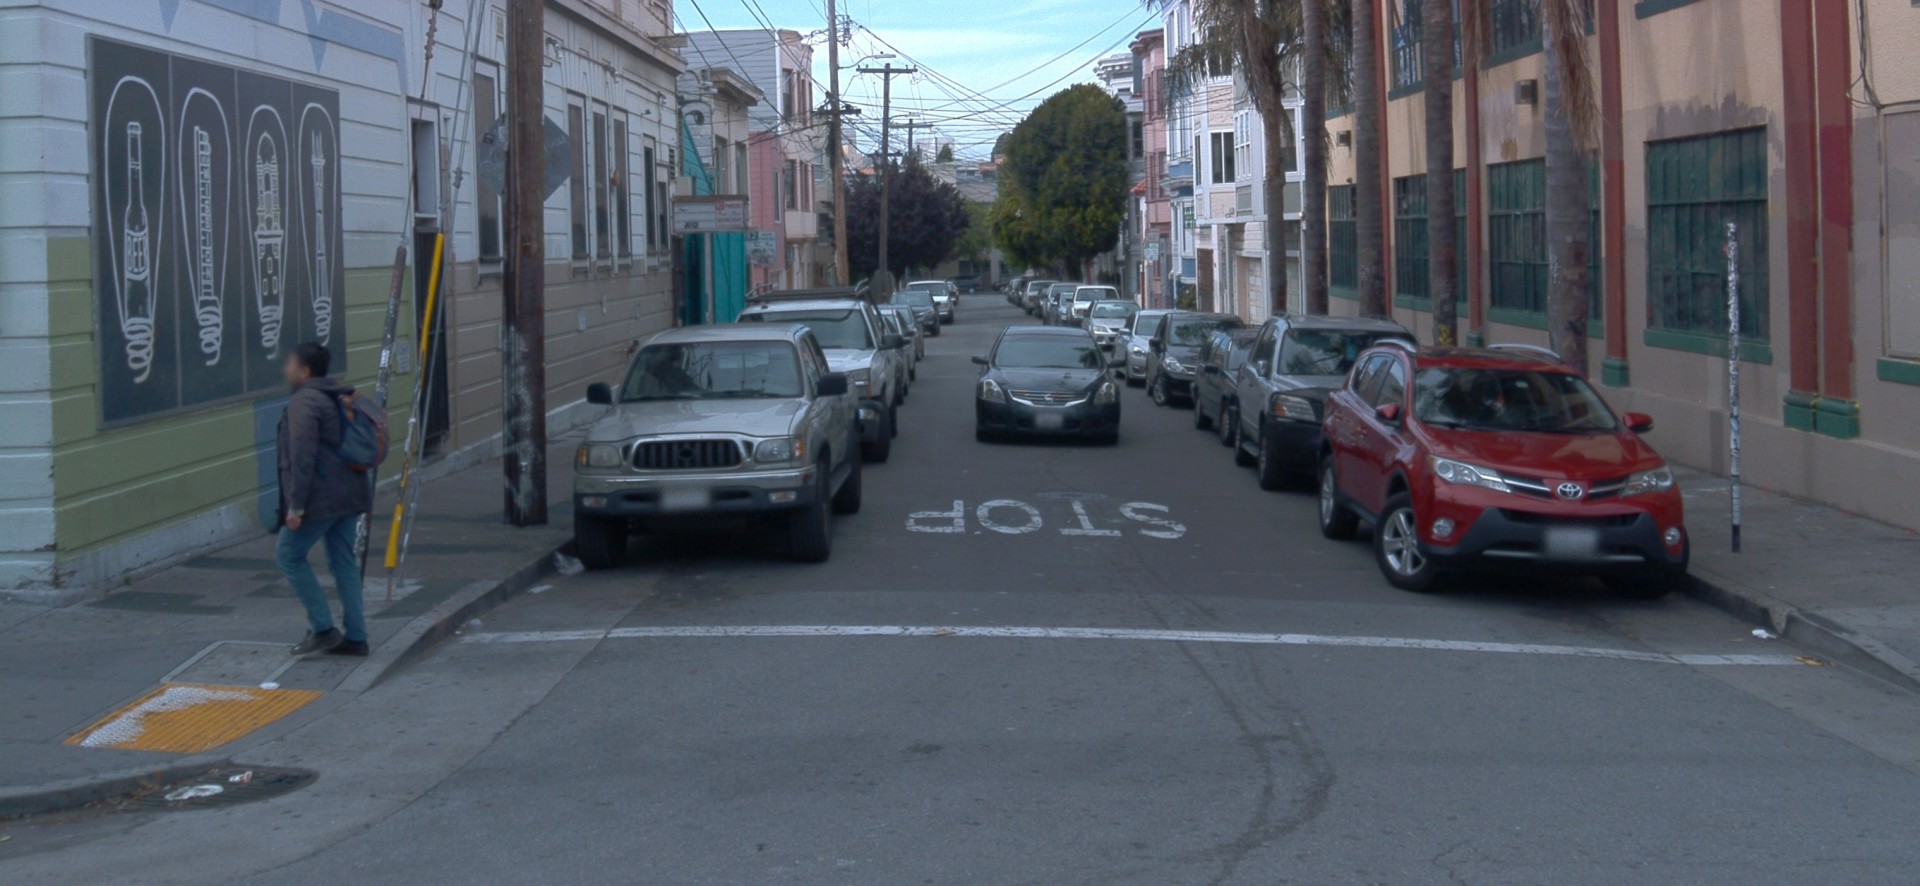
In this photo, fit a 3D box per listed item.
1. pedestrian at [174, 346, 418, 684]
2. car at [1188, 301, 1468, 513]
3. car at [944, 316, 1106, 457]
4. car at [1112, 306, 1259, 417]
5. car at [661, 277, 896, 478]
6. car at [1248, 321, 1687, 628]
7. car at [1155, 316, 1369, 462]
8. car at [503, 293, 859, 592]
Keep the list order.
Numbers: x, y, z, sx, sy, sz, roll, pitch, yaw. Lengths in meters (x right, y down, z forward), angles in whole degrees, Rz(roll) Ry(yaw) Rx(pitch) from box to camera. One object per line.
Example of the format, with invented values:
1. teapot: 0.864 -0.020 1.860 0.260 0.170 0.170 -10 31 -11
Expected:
1. pedestrian: -3.564 0.354 11.124 1.038 1.697 0.880 0 2 -1
2. car: 3.799 -0.516 22.175 2.293 1.852 4.865 0 5 2
3. car: 0.862 -0.835 27.578 1.987 1.513 4.674 0 6 2
4. car: 3.729 -1.425 34.623 1.982 1.593 3.956 0 5 -1
5. car: -2.040 -0.941 25.095 2.317 2.001 5.984 0 6 0
6. car: 3.647 0.074 15.762 2.193 1.792 4.531 0 5 -1
7. car: 3.915 -0.806 27.483 2.061 1.563 4.668 0 6 -2
8. car: -2.069 -0.193 16.879 2.071 1.901 5.185 0 5 2
